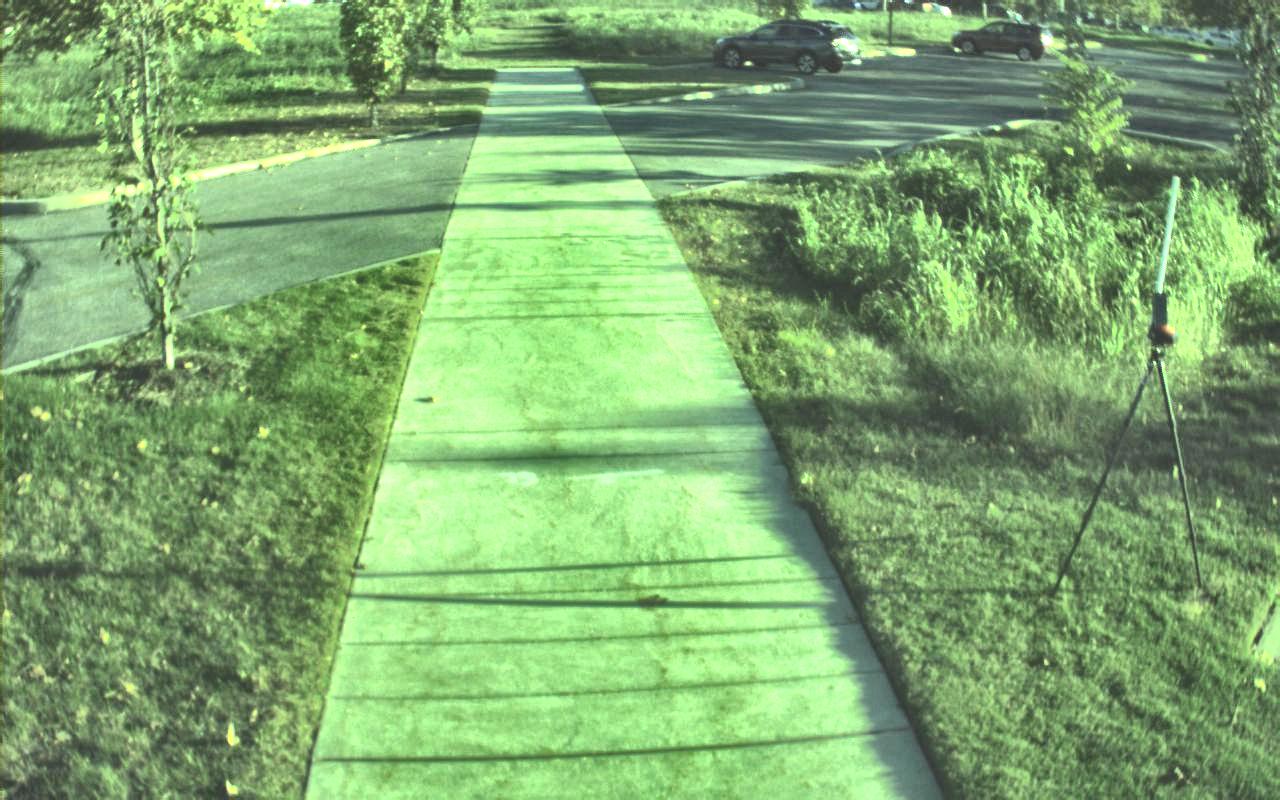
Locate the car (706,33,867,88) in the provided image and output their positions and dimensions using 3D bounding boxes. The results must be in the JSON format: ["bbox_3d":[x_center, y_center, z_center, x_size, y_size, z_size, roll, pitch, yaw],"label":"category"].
[{"bbox_3d":[4.543,-10.588,38.267,4.649,1.657,2.024,11,19,37],"label":"car"}]

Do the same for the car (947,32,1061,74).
[{"bbox_3d":[15.887,-15.070,51.786,4.702,1.659,2.006,10,18,34],"label":"car"}]
